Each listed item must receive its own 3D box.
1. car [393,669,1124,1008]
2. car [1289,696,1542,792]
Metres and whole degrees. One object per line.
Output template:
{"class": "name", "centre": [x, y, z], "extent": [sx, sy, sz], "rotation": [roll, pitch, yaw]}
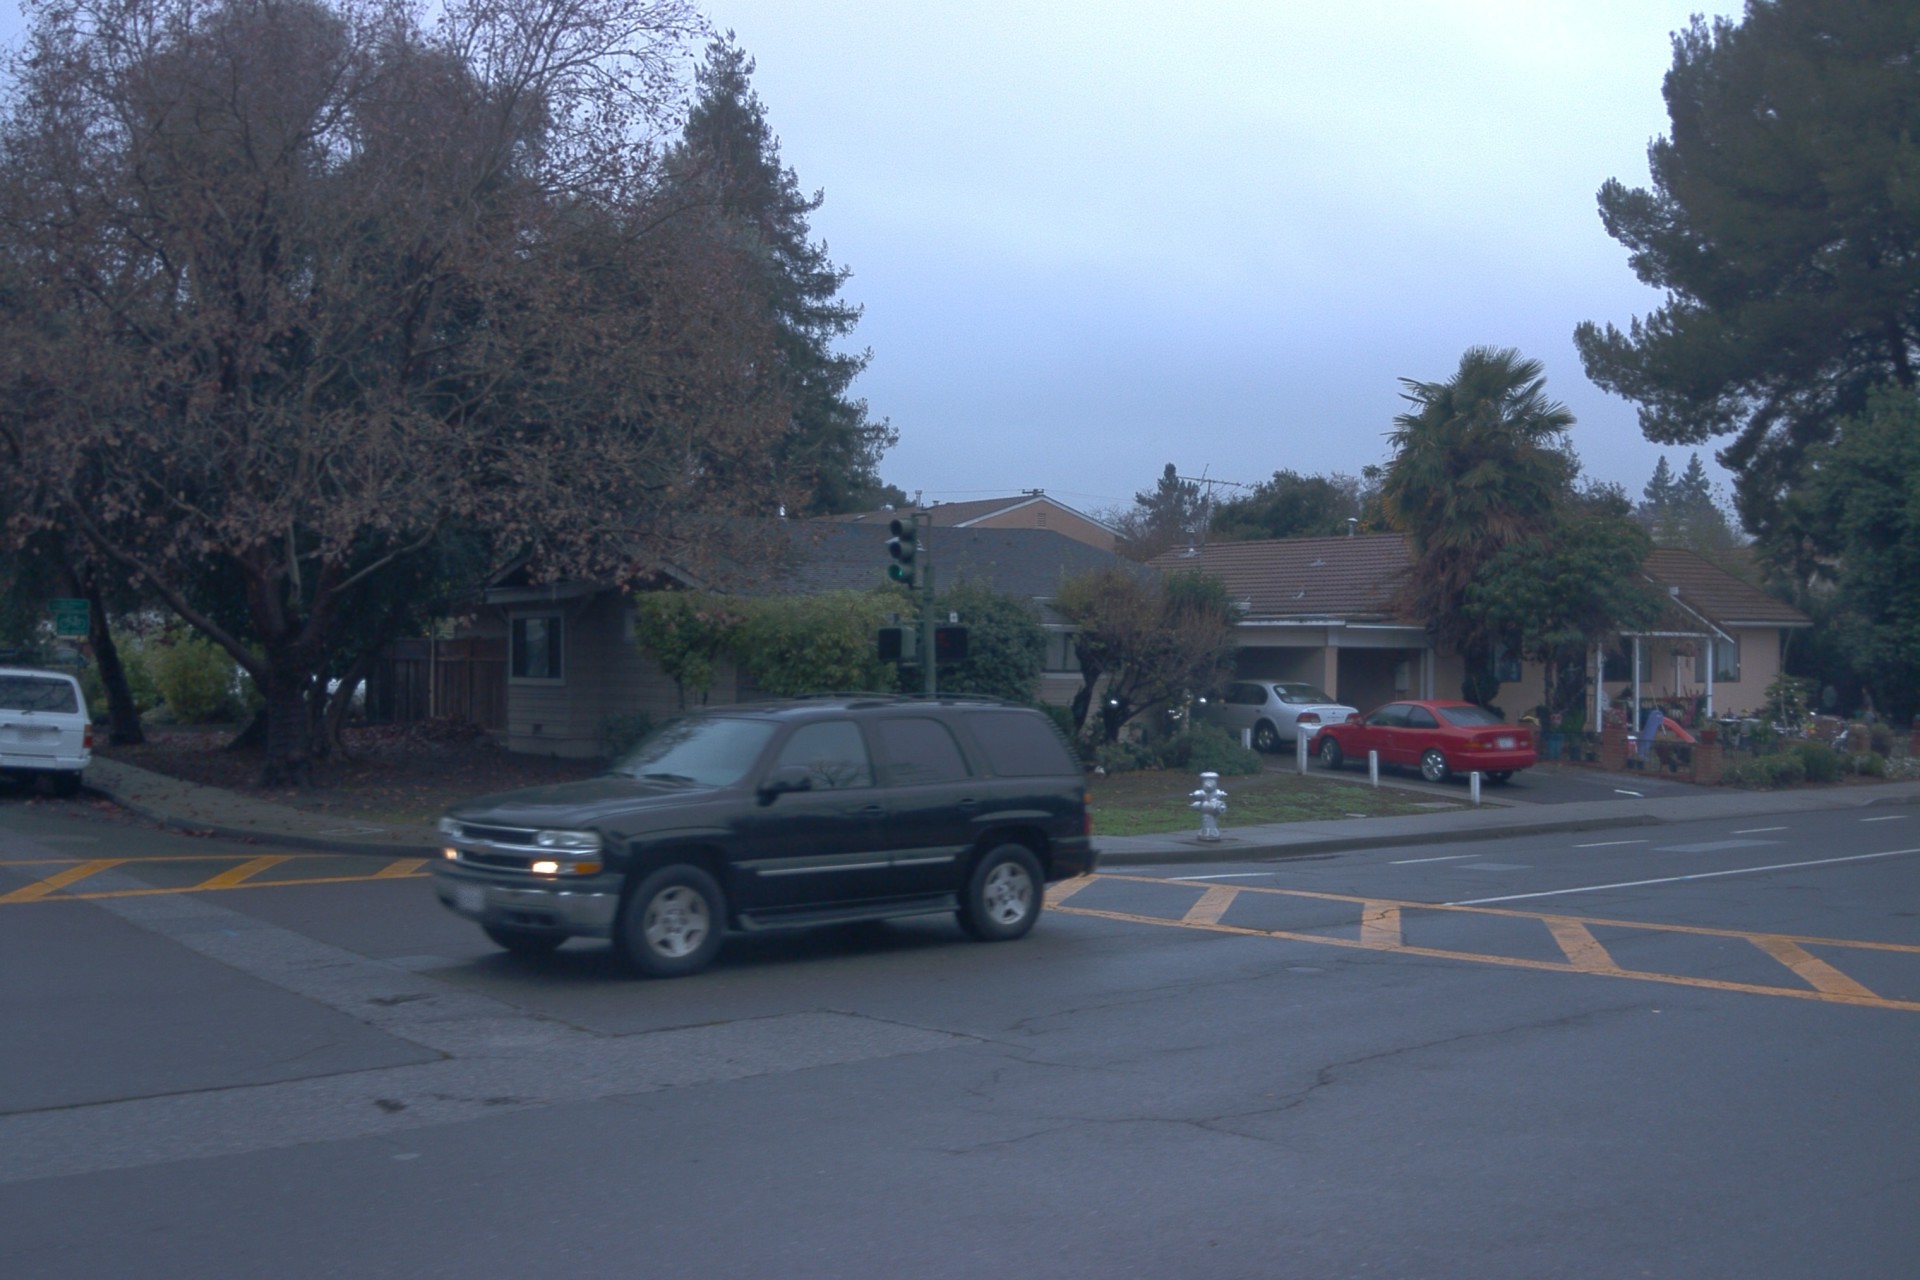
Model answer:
{"class": "car", "centre": [-1.332, 1.264, 15.467], "extent": [5.097, 2.060, 2.265], "rotation": [0, 0, -44]}
{"class": "car", "centre": [8.050, 1.799, 37.079], "extent": [1.945, 1.490, 4.320], "rotation": [0, 0, -32]}
